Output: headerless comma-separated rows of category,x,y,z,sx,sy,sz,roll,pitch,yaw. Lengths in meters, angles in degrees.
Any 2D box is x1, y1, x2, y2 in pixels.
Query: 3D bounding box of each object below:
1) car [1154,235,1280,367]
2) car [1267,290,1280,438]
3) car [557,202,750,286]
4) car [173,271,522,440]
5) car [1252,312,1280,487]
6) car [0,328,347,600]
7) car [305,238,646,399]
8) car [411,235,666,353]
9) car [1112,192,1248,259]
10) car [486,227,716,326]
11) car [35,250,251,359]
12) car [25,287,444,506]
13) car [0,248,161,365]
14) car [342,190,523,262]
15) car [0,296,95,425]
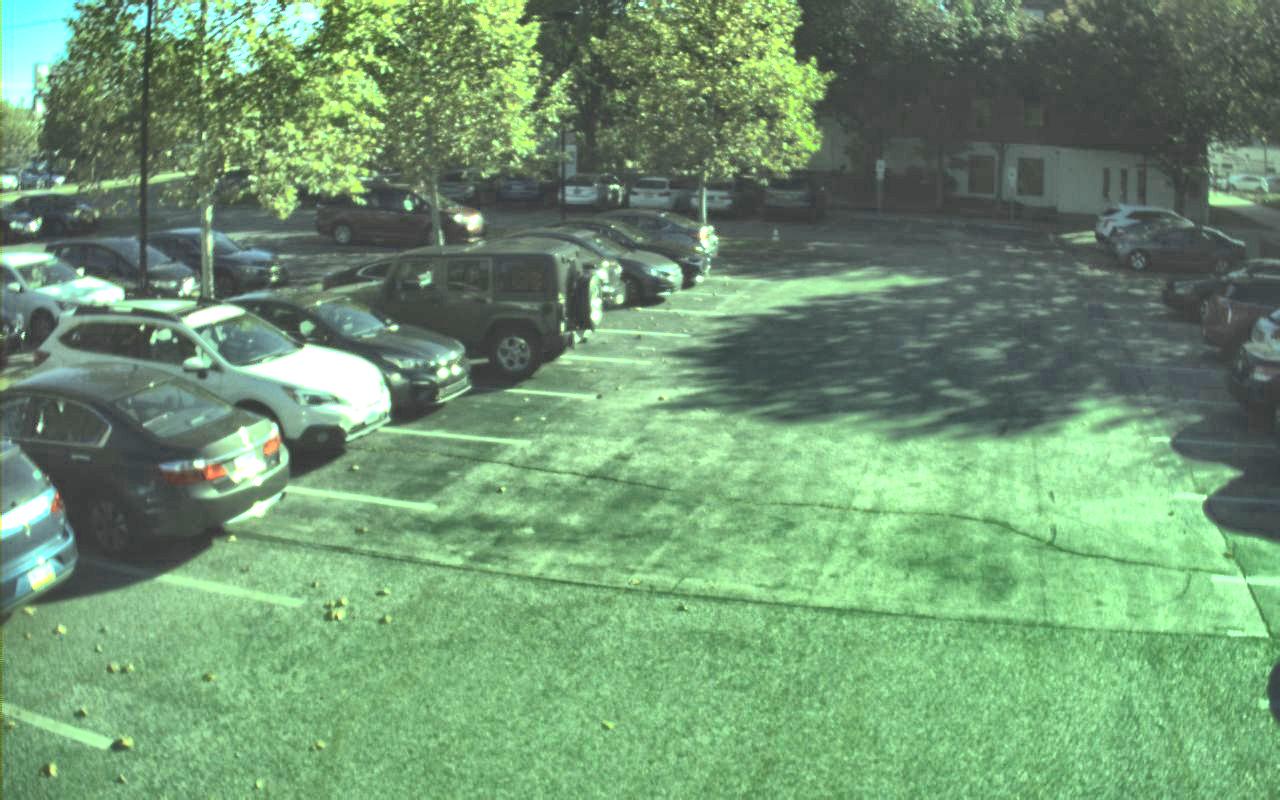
car,11.688,-1.930,21.509,4.540,1.616,1.964,-12,20,-33
car,12.125,-0.516,16.981,4.351,1.612,1.935,5,17,19
car,0.375,-3.908,31.139,4.370,1.638,1.979,4,17,15
car,-3.972,-0.700,16.485,4.358,1.545,1.932,5,17,19
car,10.625,0.021,14.708,4.432,1.586,1.964,5,17,20
car,-5.251,0.457,11.322,4.486,1.595,1.965,5,17,20
car,-2.443,-1.316,18.788,4.673,1.835,2.041,3,17,14
car,-1.907,-2.070,23.831,4.387,1.644,1.964,5,17,19
car,18.184,-5.811,39.135,4.553,1.682,2.005,3,17,15
car,-0.761,-2.616,26.156,4.421,1.607,1.948,2,17,11
car,-10.123,-1.966,23.626,4.406,1.607,1.963,5,17,20
car,-4.903,-0.181,14.164,4.774,1.734,2.047,4,17,17
car,-11.302,-1.789,21.302,4.543,1.621,1.983,5,17,18
car,-5.962,-5.024,35.620,4.746,1.728,2.032,4,17,15
car,-11.546,-0.689,18.708,4.450,1.605,1.948,2,17,11
